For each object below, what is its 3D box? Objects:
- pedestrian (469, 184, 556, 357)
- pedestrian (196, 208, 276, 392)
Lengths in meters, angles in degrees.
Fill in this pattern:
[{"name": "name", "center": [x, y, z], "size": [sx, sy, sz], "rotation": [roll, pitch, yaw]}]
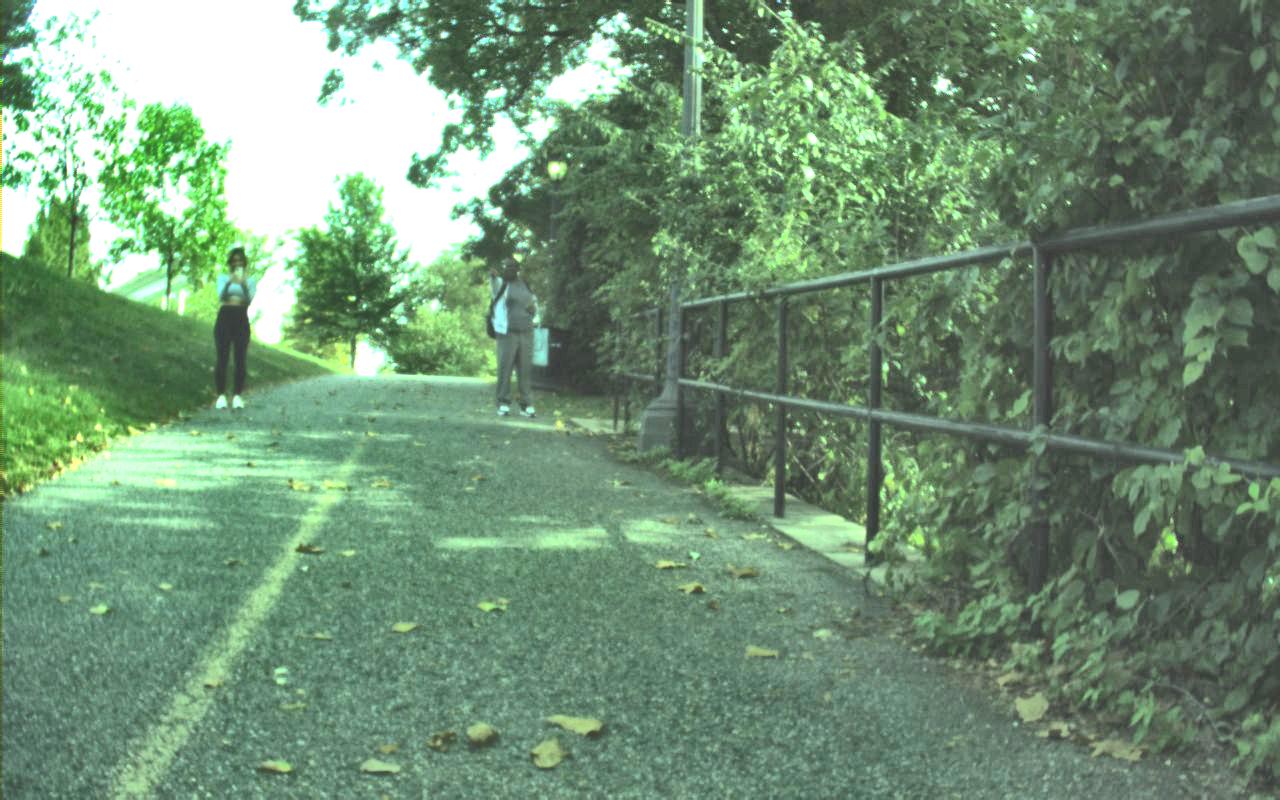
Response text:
[{"name": "pedestrian", "center": [-1.351, -1.332, 13.181], "size": [0.842, 1.758, 0.855], "rotation": [0, 0, -10]}, {"name": "pedestrian", "center": [-3.994, -0.957, 11.880], "size": [0.762, 1.758, 0.761], "rotation": [0, 0, -17]}]
